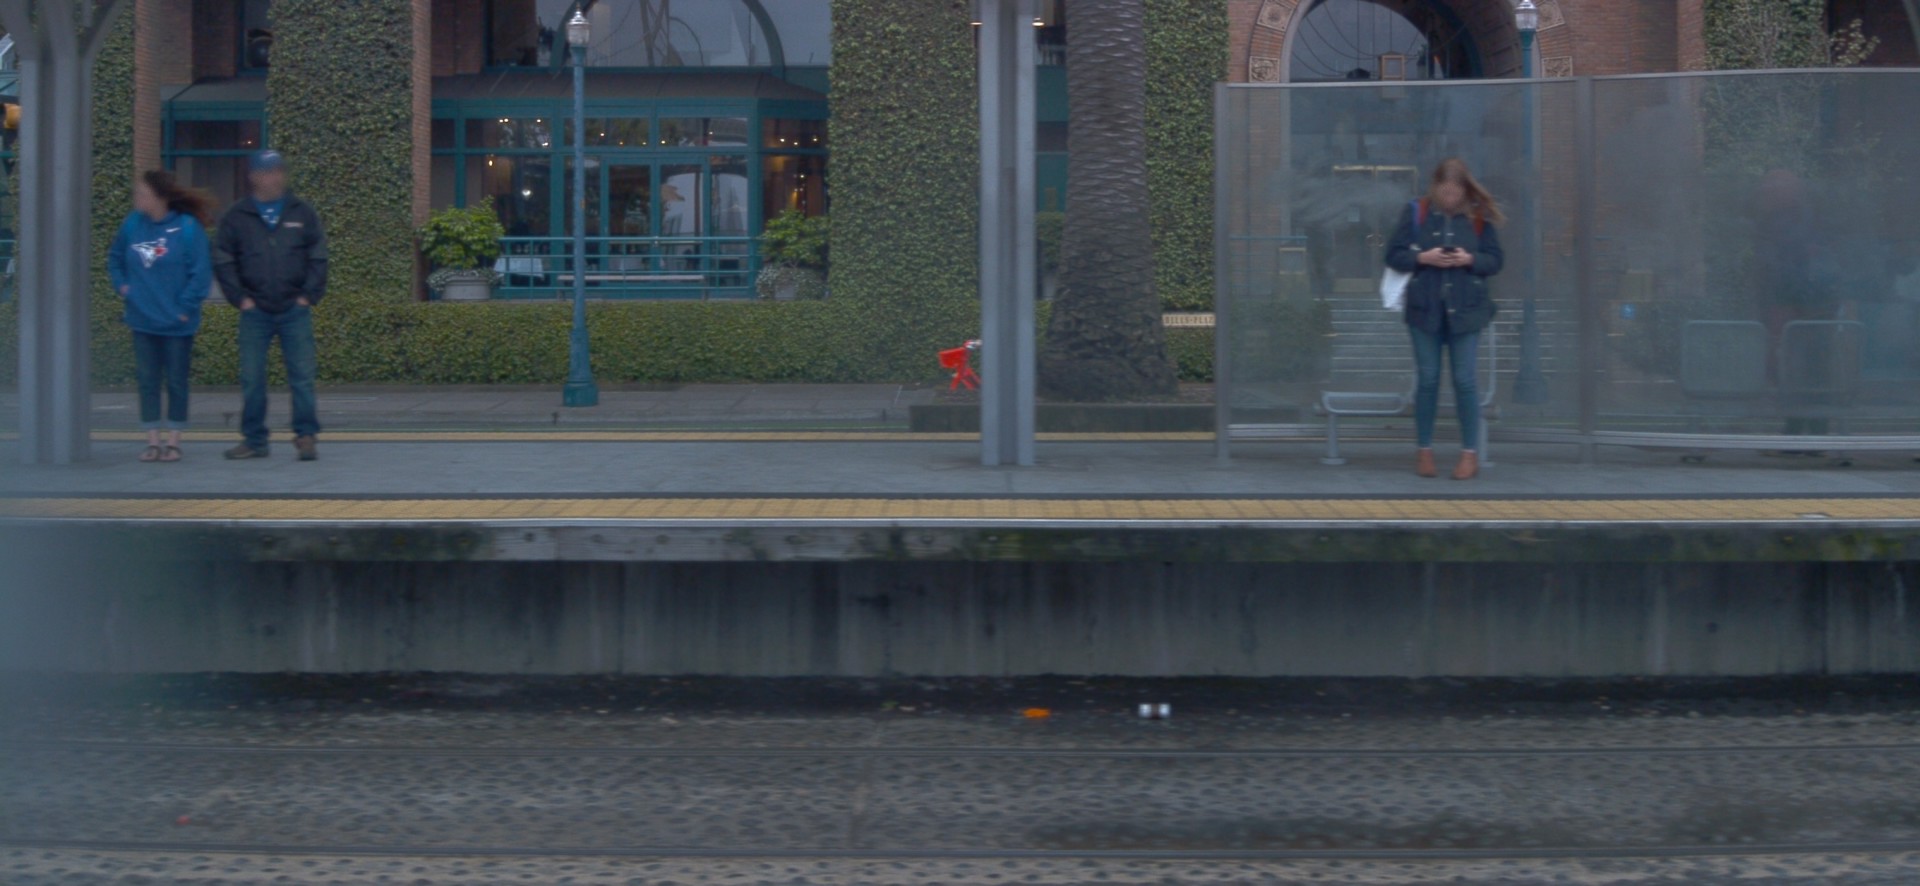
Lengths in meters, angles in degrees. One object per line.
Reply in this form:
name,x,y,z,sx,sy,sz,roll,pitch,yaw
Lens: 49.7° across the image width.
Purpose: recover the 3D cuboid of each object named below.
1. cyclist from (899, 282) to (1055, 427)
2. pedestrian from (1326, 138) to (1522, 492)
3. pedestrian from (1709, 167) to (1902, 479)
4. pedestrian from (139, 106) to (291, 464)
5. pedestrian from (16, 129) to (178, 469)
cyclist,0.223,-1.199,27.711,2.050,1.870,0.887,0,1,0
pedestrian,2.400,-0.687,10.818,0.835,1.770,0.873,0,1,1
pedestrian,4.704,-0.697,11.600,0.892,1.670,0.836,0,1,14
pedestrian,-4.172,-0.900,11.654,0.777,1.930,0.704,0,1,-19
pedestrian,-4.778,-0.816,11.526,0.777,1.810,0.704,0,1,-19
